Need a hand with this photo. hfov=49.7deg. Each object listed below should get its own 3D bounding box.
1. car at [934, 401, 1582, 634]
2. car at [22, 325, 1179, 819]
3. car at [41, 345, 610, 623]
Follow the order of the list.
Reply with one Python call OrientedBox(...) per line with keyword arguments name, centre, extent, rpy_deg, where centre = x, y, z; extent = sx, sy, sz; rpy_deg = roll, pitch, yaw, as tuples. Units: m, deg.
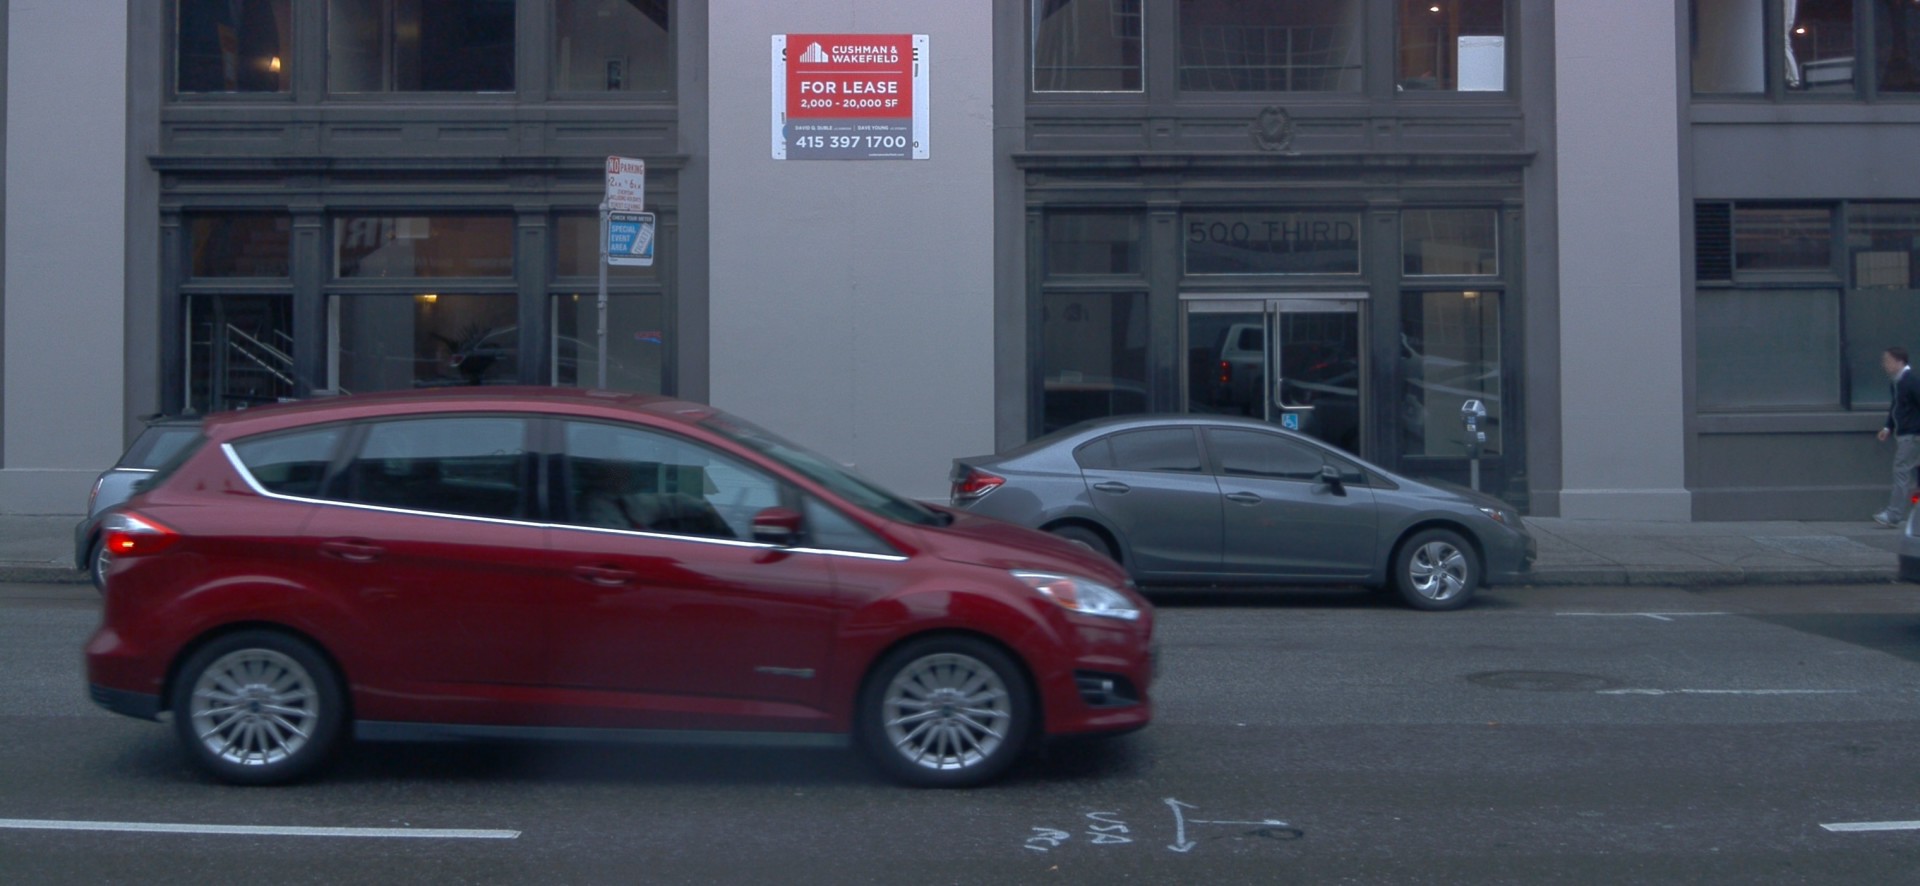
OrientedBox(name="car", centre=(2.132, 0.506, 15.851), extent=(4.616, 1.477, 2.025), rpy_deg=(0, 4, -2))
OrientedBox(name="car", centre=(-1.427, 0.445, 9.235), extent=(4.538, 1.827, 2.116), rpy_deg=(0, 3, -2))
OrientedBox(name="car", centre=(-4.704, 0.243, 15.836), extent=(3.807, 1.877, 1.865), rpy_deg=(0, 3, -3))
